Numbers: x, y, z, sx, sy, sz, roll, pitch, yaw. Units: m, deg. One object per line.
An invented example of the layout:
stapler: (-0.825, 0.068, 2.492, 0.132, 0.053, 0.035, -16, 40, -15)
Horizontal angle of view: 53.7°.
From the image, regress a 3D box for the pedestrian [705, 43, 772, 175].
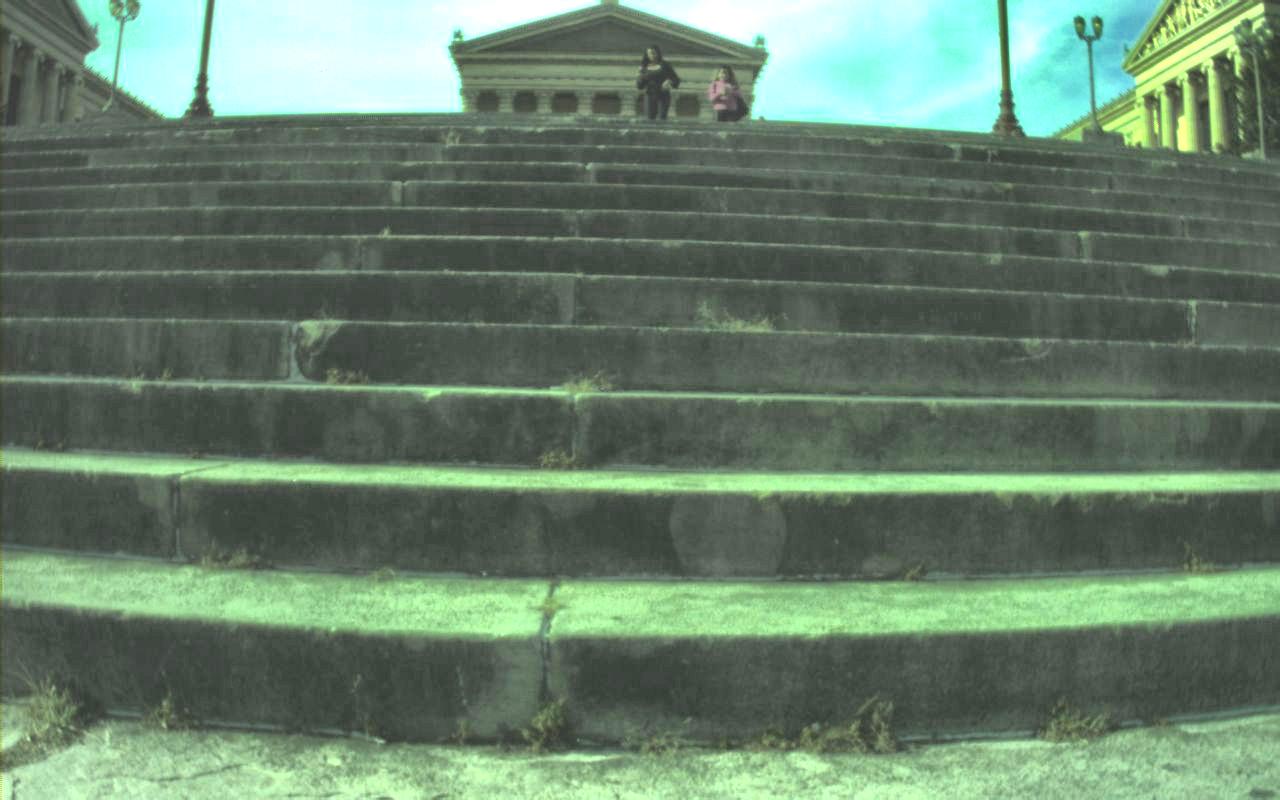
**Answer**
pedestrian: (1.403, -4.149, 17.800, 0.767, 1.770, 0.721, 0, 0, -15)

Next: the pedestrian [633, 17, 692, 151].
pedestrian: (0.323, -4.587, 18.067, 0.655, 1.843, 0.662, 0, 0, -22)
